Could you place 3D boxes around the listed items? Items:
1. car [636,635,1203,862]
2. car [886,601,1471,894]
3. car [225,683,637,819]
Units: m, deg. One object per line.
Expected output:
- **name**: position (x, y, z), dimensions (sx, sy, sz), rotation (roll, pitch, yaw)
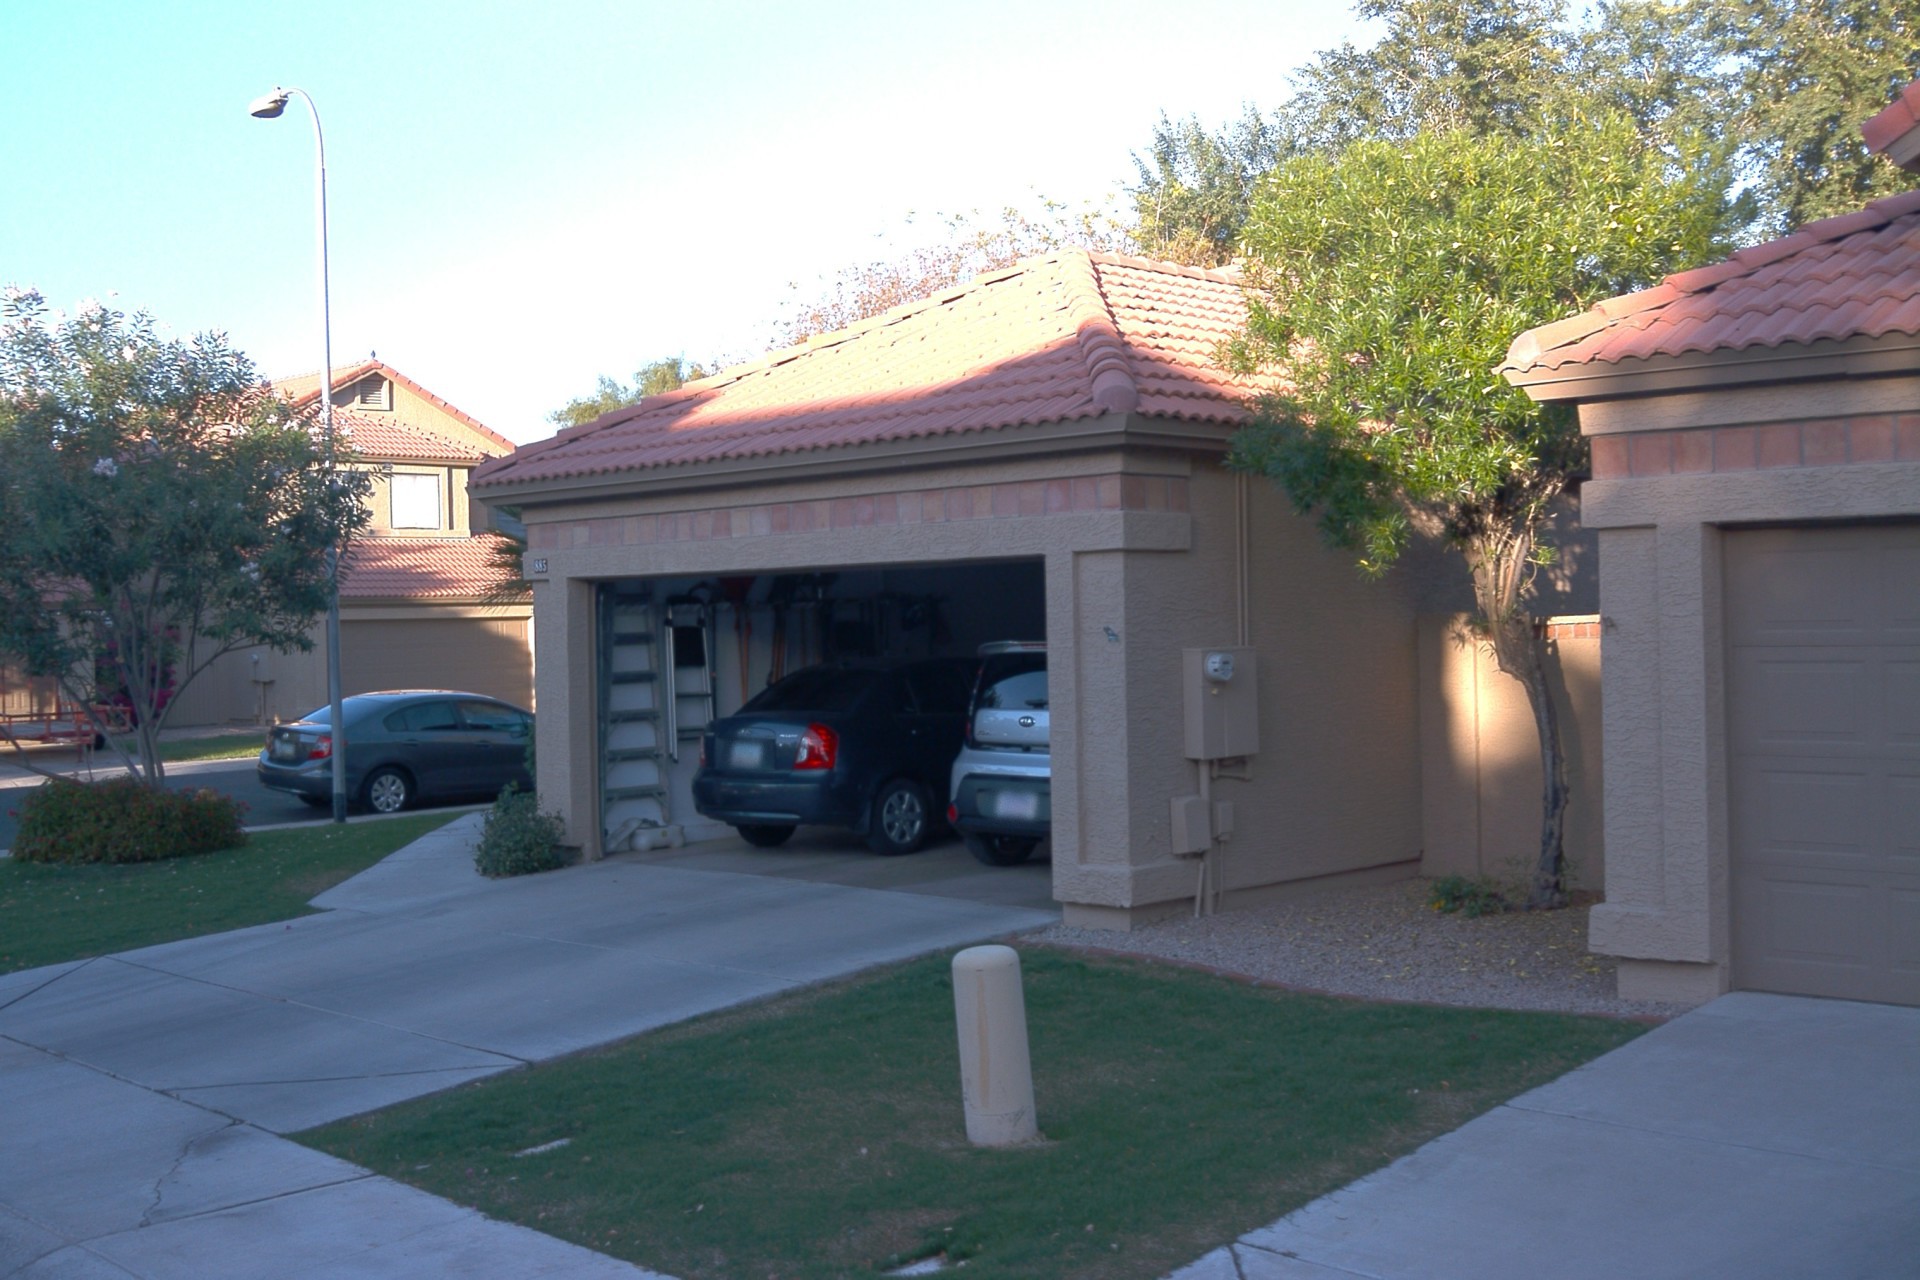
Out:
- **car**: position (-0.211, 0.777, 16.753), dimensions (2.038, 1.580, 4.384), rotation (0, -1, 45)
- **car**: position (1.679, 0.683, 14.978), dimensions (2.069, 1.800, 4.115), rotation (0, -1, 45)
- **car**: position (-6.396, 1.284, 25.457), dimensions (2.054, 1.470, 4.462), rotation (0, -1, 44)
